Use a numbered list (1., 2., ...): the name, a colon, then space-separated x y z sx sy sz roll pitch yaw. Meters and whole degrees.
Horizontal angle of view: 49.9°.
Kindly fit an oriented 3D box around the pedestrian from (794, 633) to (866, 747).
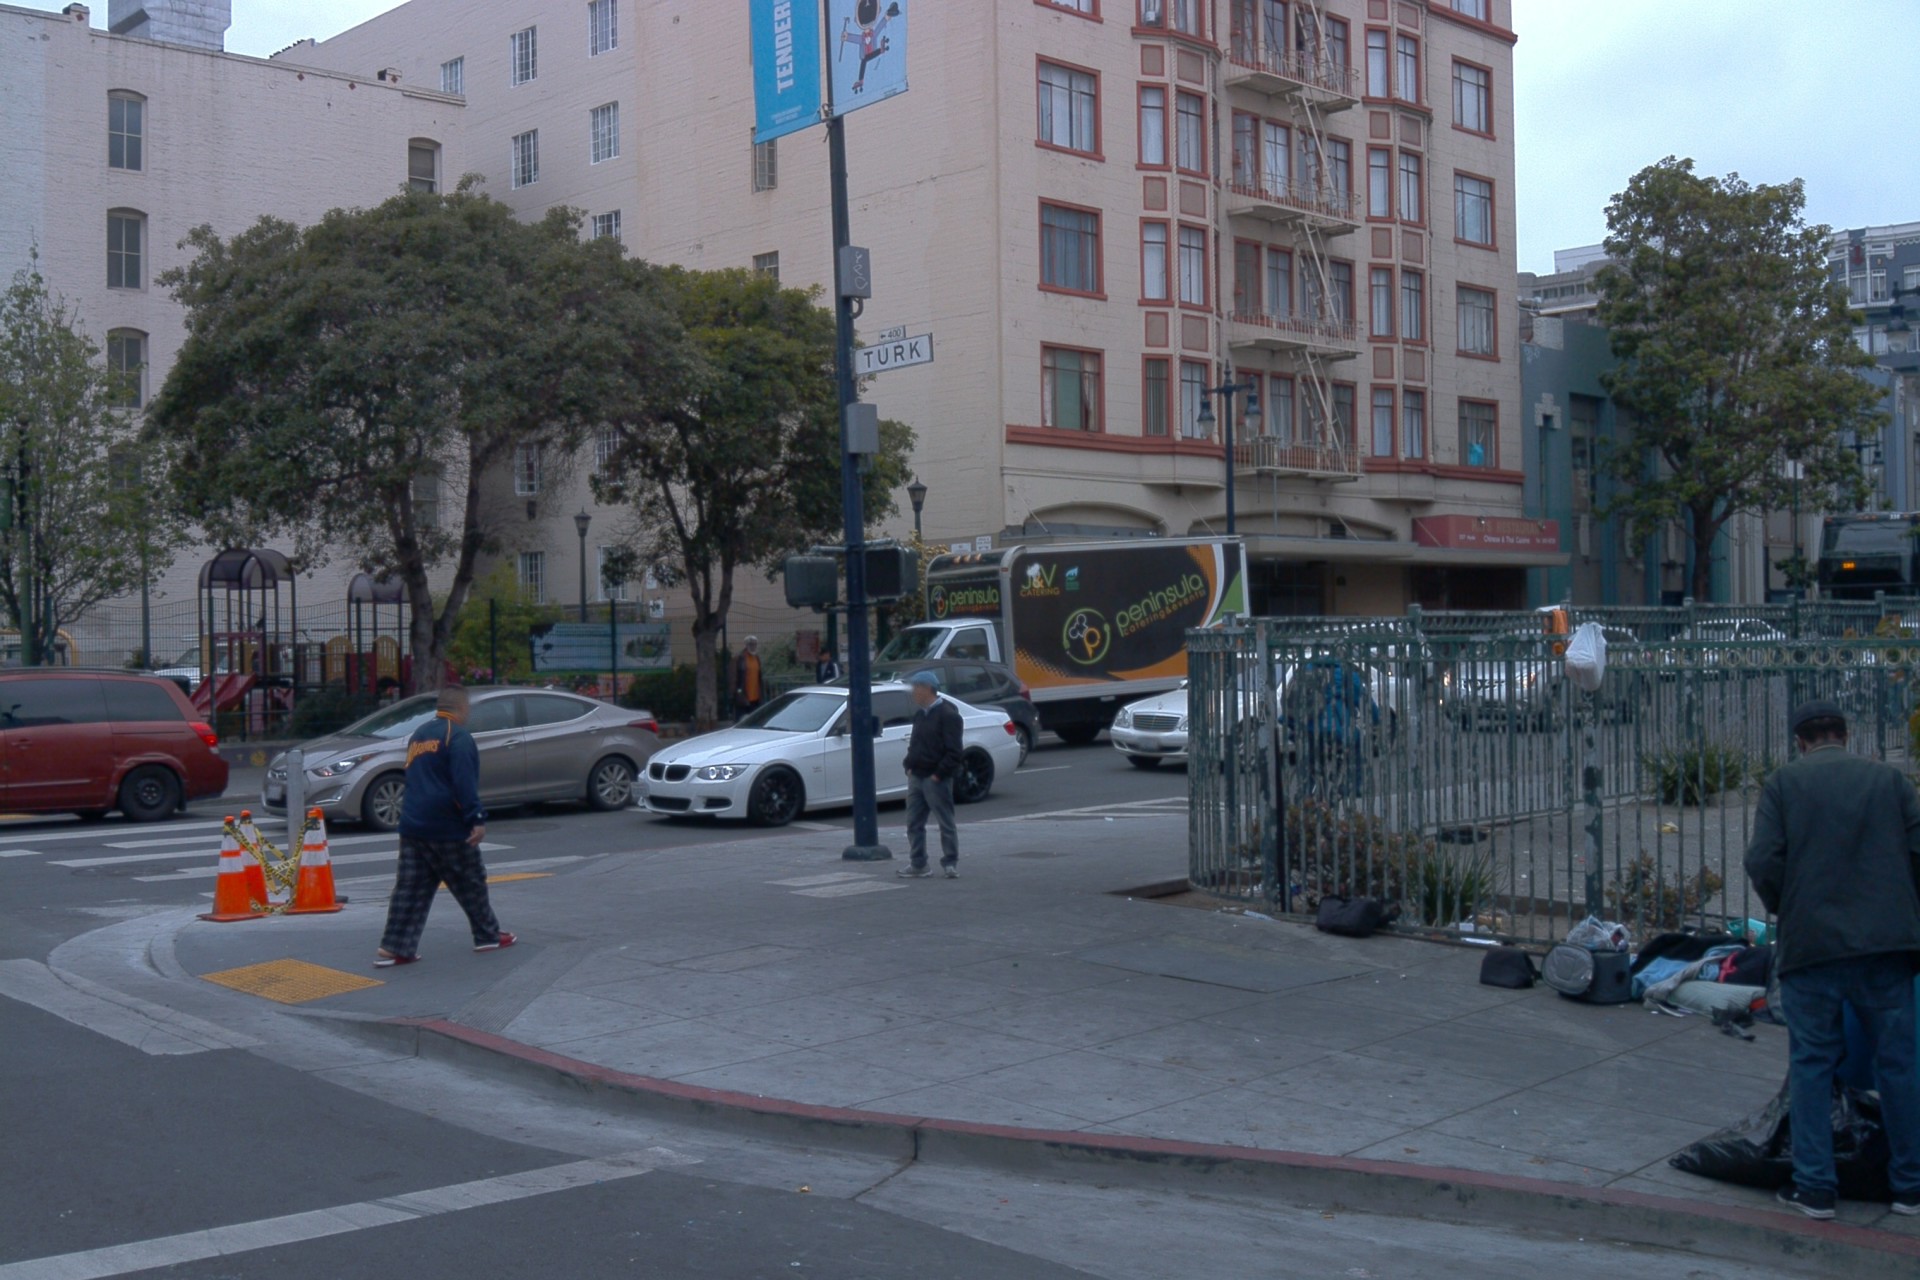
1. pedestrian: -2.335 0.877 37.119 0.919 2.010 0.890 -1 1 -43

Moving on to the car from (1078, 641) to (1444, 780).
1. car: 4.092 0.848 27.509 5.013 1.630 2.224 -1 1 -44

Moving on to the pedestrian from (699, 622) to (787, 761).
1. pedestrian: -3.531 0.816 33.578 1.047 2.200 1.032 -1 1 -35

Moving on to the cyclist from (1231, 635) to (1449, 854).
1. cyclist: 3.272 0.838 17.659 1.014 1.750 1.949 0 1 39

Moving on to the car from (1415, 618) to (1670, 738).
1. car: 9.476 0.551 33.409 4.436 1.810 2.035 -1 1 -44

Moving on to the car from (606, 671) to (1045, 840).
1. car: -1.362 1.159 22.375 4.584 1.520 1.930 -1 1 -44

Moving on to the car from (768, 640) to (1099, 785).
1. car: -0.283 0.885 27.476 4.317 1.730 1.853 -1 1 -45

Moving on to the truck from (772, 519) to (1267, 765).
1. truck: 0.986 -0.006 31.730 7.106 3.420 2.934 0 1 -31

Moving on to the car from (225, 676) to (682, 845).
1. car: -5.414 1.220 22.473 4.454 1.540 1.957 -1 1 -44

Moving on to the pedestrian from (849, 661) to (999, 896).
1. pedestrian: -0.266 1.001 15.385 0.781 1.670 0.793 1 1 41

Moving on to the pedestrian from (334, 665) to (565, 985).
1. pedestrian: -3.079 1.067 12.475 1.028 1.800 0.913 -1 1 -44
